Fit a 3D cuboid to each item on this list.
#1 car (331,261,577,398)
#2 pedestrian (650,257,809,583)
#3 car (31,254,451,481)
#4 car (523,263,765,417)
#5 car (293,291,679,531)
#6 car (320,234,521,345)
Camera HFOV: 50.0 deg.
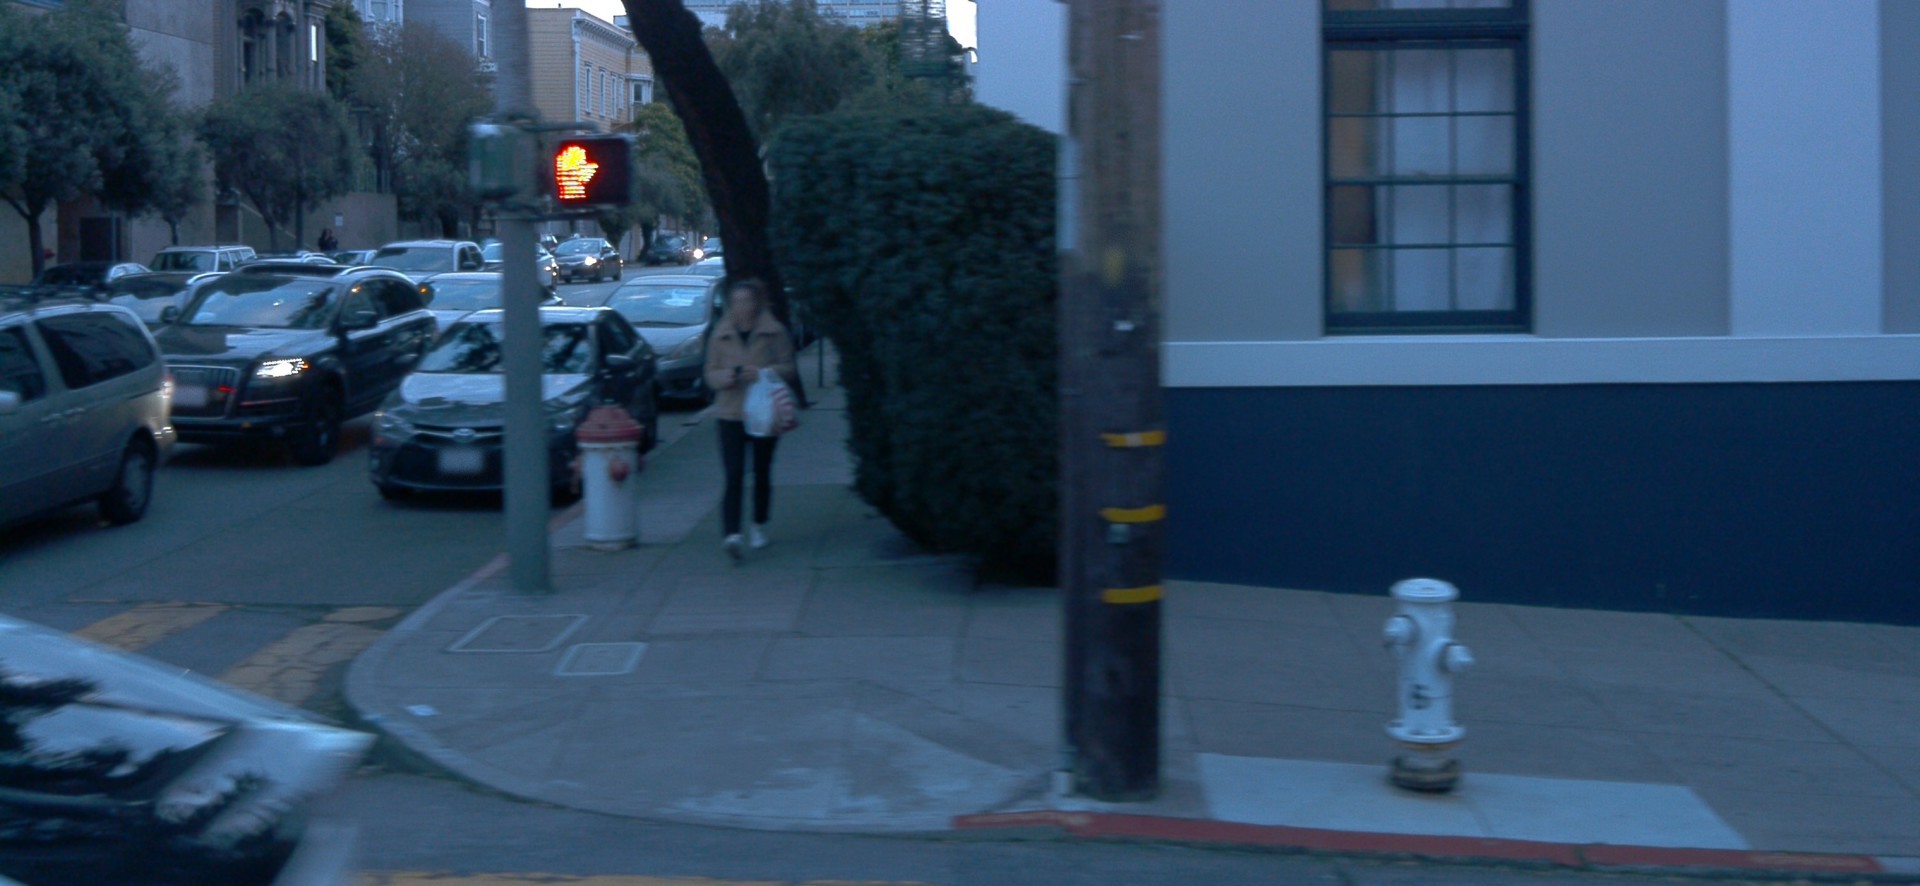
[{"bbox_3d":[-6.747,-1.619,27.982,2.120,1.552,4.646,1,6,1],"label":"car"},{"bbox_3d":[-1.405,-0.184,12.721,0.864,1.899,1.093,1,2,-2],"label":"pedestrian"},{"bbox_3d":[-6.854,-0.883,20.315,2.225,1.810,5.016,1,6,2],"label":"car"},{"bbox_3d":[-3.782,-1.355,25.392,2.113,1.592,4.334,1,6,3],"label":"car"},{"bbox_3d":[-3.961,-0.427,18.176,2.150,1.601,4.929,1,6,1],"label":"car"},{"bbox_3d":[-9.452,-2.790,36.486,2.208,1.721,5.035,1,6,0],"label":"car"}]
